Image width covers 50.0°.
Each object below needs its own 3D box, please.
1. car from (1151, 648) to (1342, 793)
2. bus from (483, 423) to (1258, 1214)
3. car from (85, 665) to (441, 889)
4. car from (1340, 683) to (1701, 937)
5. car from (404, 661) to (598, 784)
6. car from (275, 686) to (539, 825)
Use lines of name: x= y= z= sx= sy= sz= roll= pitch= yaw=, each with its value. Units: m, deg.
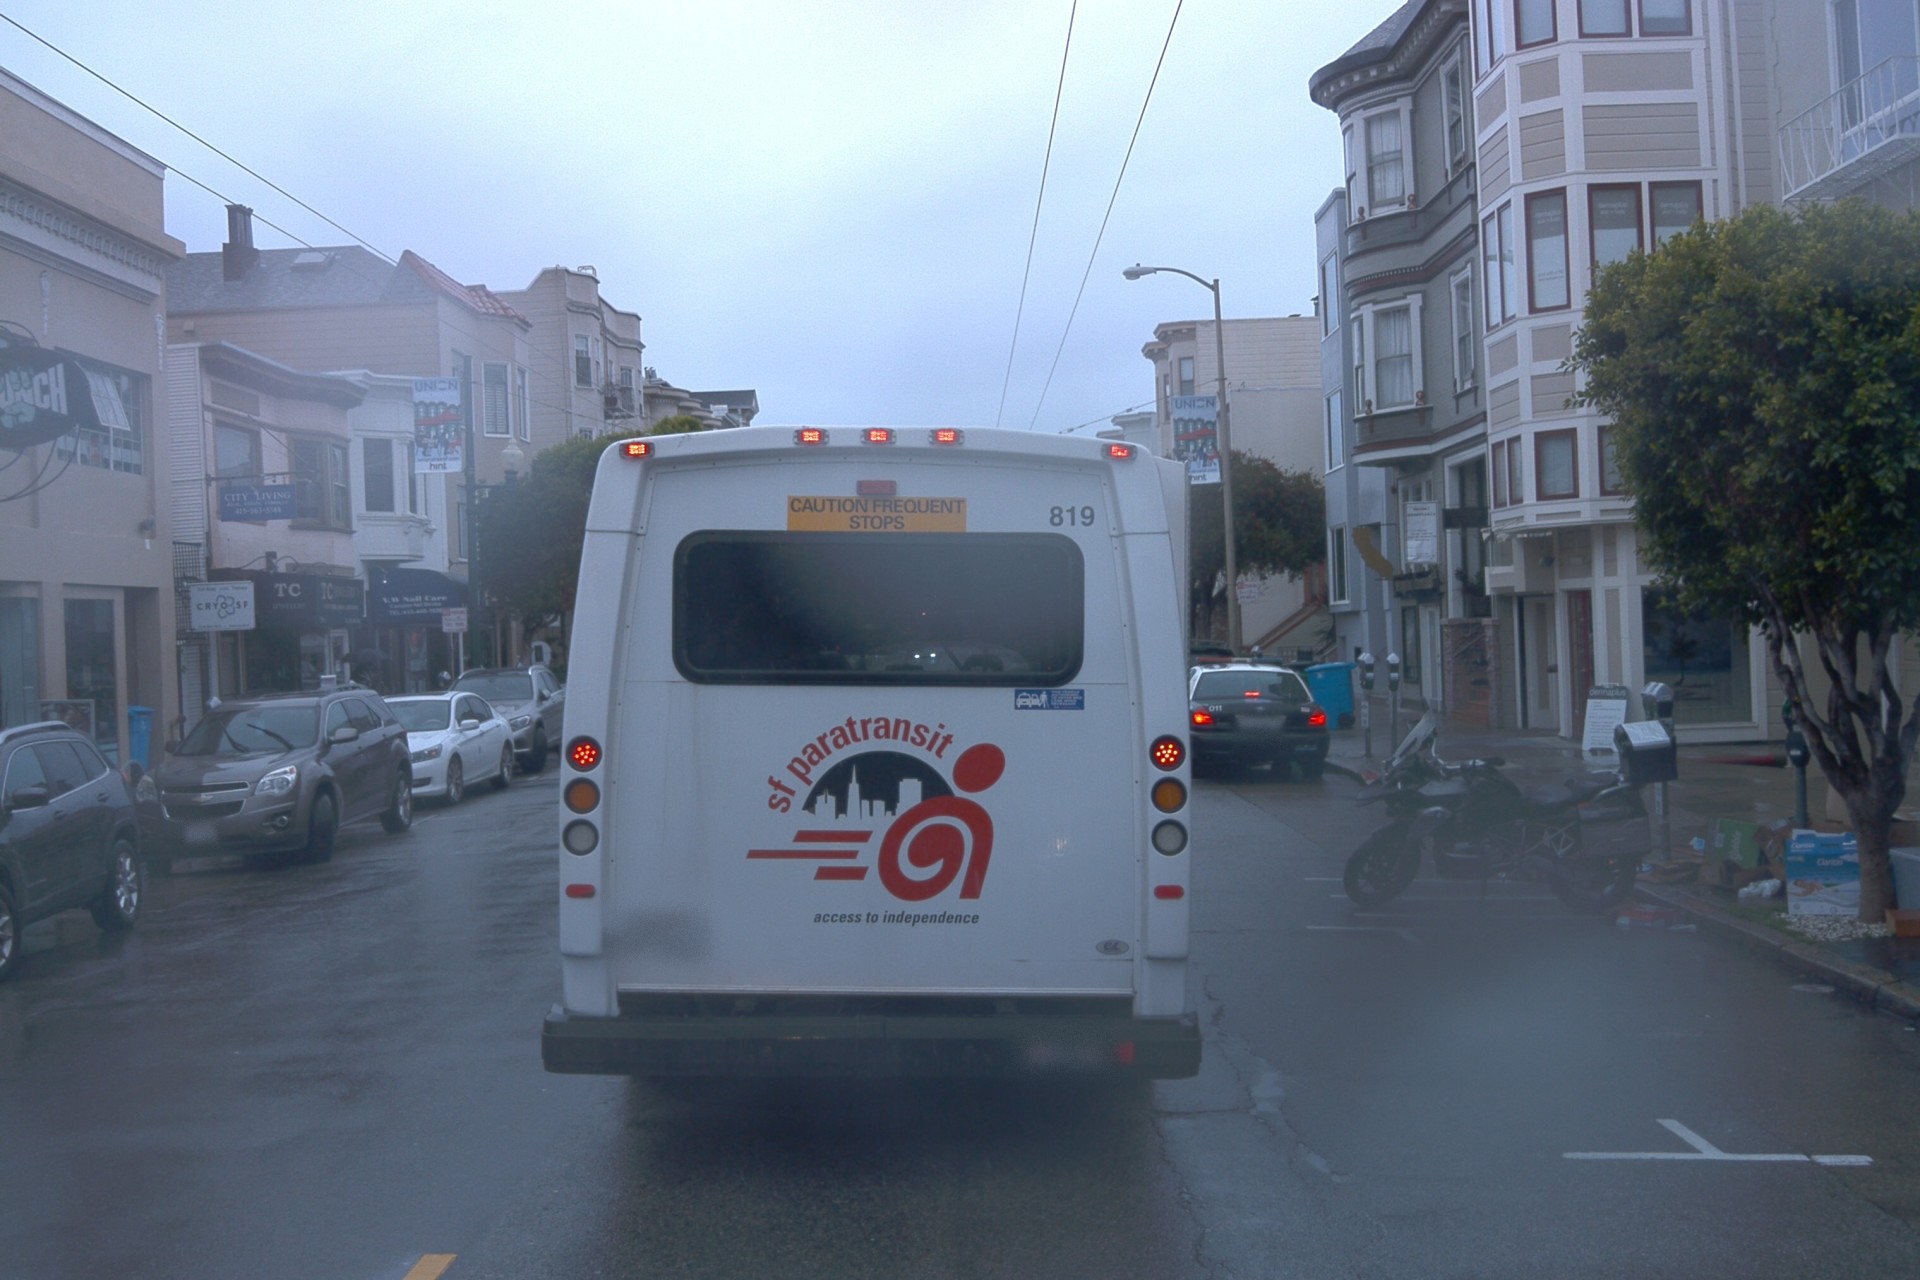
car: x=3.783 y=0.998 z=28.141 sx=2.108 sy=1.690 sz=5.363 roll=1 pitch=1 yaw=3
bus: x=-0.343 y=0.615 z=10.840 sx=2.787 sy=2.850 sz=6.706 roll=1 pitch=1 yaw=0
car: x=-7.155 y=1.316 z=21.792 sx=2.065 sy=1.960 sz=4.992 roll=1 pitch=1 yaw=0
car: x=3.932 y=1.165 z=14.659 sx=2.374 sy=1.650 sz=1.013 roll=1 pitch=1 yaw=12
car: x=-7.439 y=1.285 z=33.910 sx=2.149 sy=1.760 sz=4.917 roll=1 pitch=1 yaw=-1
car: x=-7.429 y=1.493 z=28.280 sx=2.131 sy=1.540 sz=5.131 roll=1 pitch=1 yaw=1
